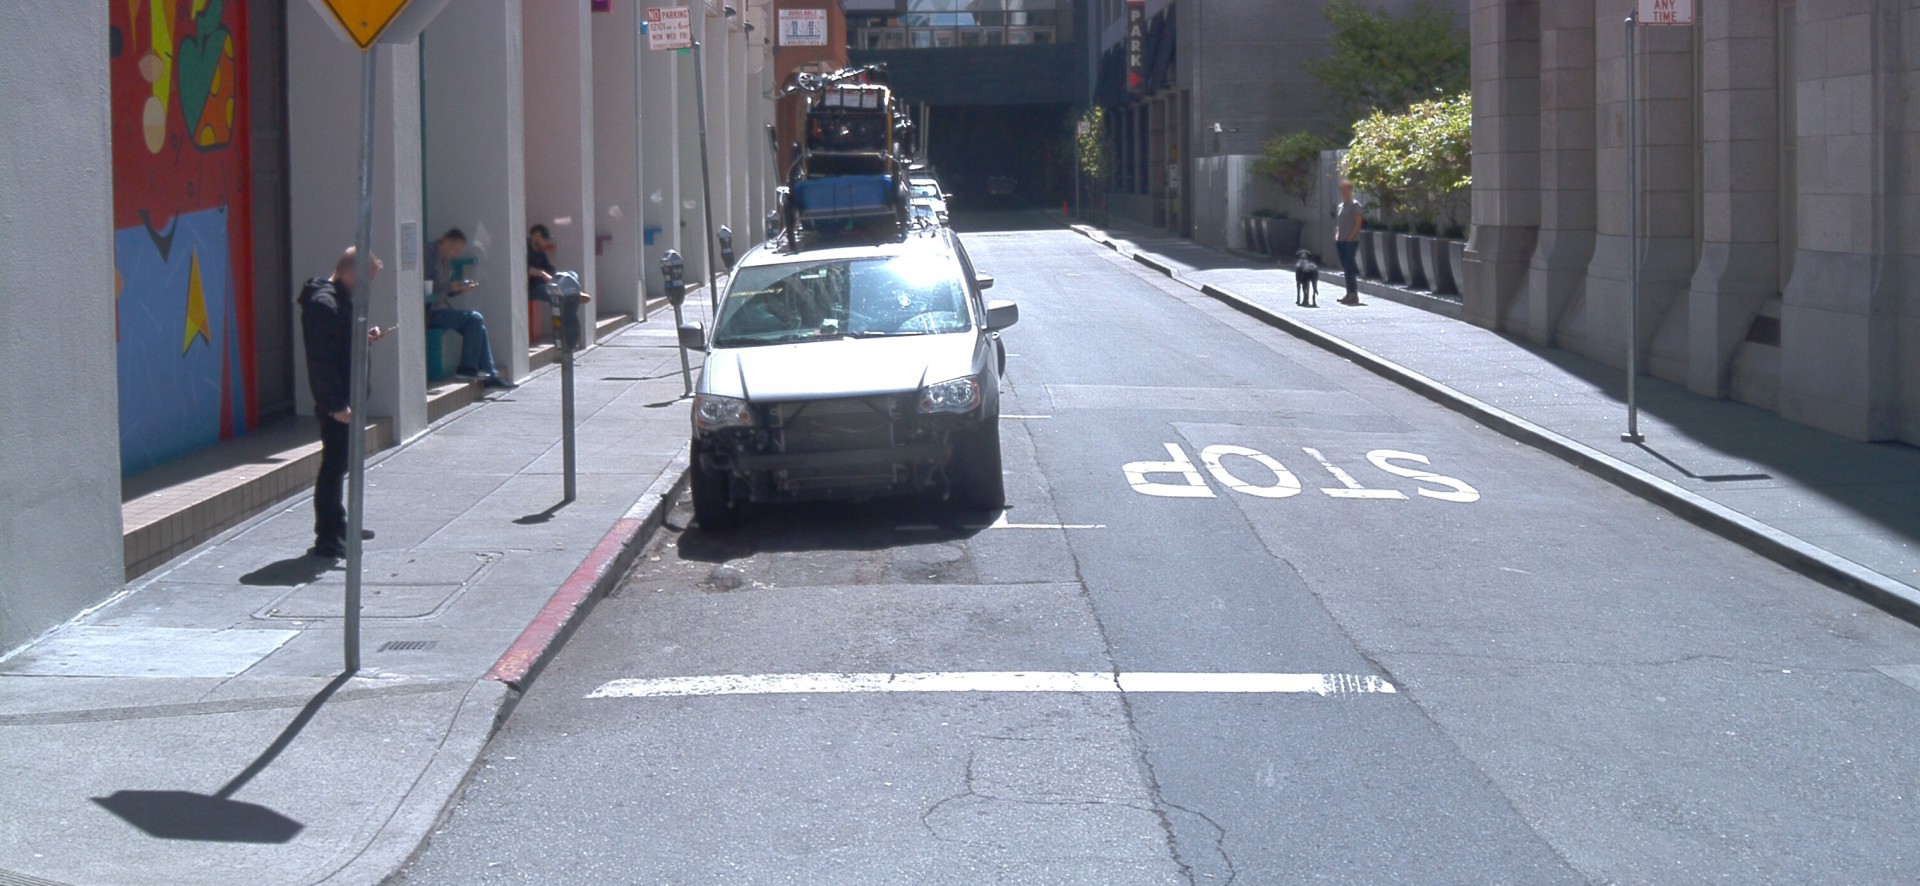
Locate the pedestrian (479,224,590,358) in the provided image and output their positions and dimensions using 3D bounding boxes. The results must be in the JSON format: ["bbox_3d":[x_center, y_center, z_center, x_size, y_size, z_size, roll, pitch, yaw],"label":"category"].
[{"bbox_3d":[-4.541,-1.638,21.995,1.052,1.412,0.774,0,1,-3],"label":"pedestrian"}]

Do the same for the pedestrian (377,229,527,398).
[{"bbox_3d":[-4.466,-1.154,18.116,1.160,1.456,0.758,0,1,-3],"label":"pedestrian"}]

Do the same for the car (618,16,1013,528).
[{"bbox_3d":[-0.922,-1.254,14.524,2.305,2.971,5.041,0,4,-2],"label":"car"}]

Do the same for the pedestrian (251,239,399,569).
[{"bbox_3d":[-3.449,-0.242,11.207,0.569,1.739,0.757,0,1,0],"label":"pedestrian"}]
